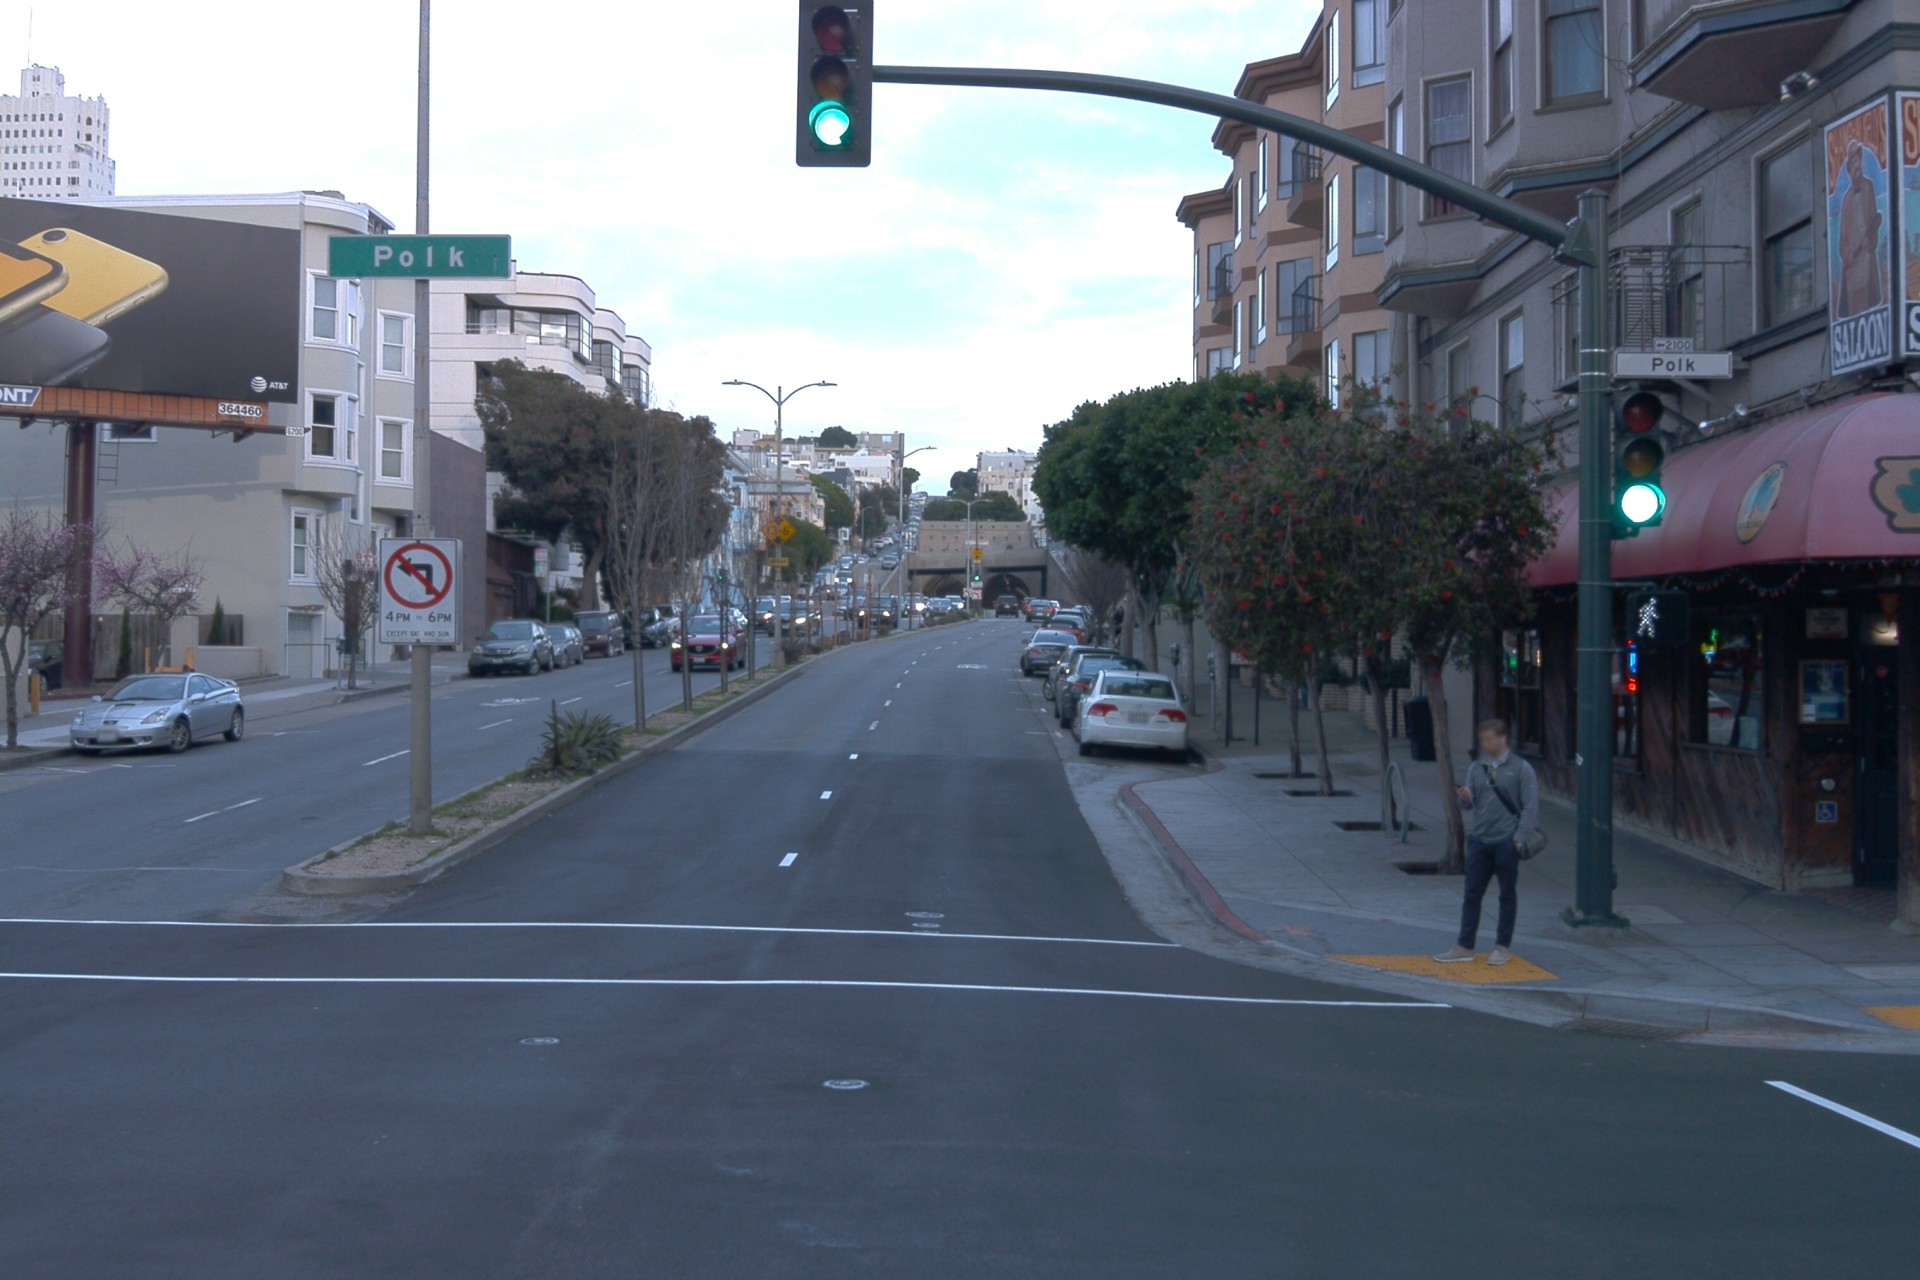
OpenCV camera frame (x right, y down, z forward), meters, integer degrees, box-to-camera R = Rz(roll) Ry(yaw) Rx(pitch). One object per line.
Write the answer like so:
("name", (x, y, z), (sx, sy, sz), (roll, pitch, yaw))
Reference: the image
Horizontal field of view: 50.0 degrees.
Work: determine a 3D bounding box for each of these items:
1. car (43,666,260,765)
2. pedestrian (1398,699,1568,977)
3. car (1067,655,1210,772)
("car", (-13.415, 1.216, 34.485), (1.949, 1.430, 4.410), (1, 1, -1))
("pedestrian", (3.849, 1.408, 15.132), (0.925, 1.890, 1.048), (1, 1, 31))
("car", (2.945, 1.185, 34.976), (2.061, 1.750, 4.614), (1, 1, 1))
